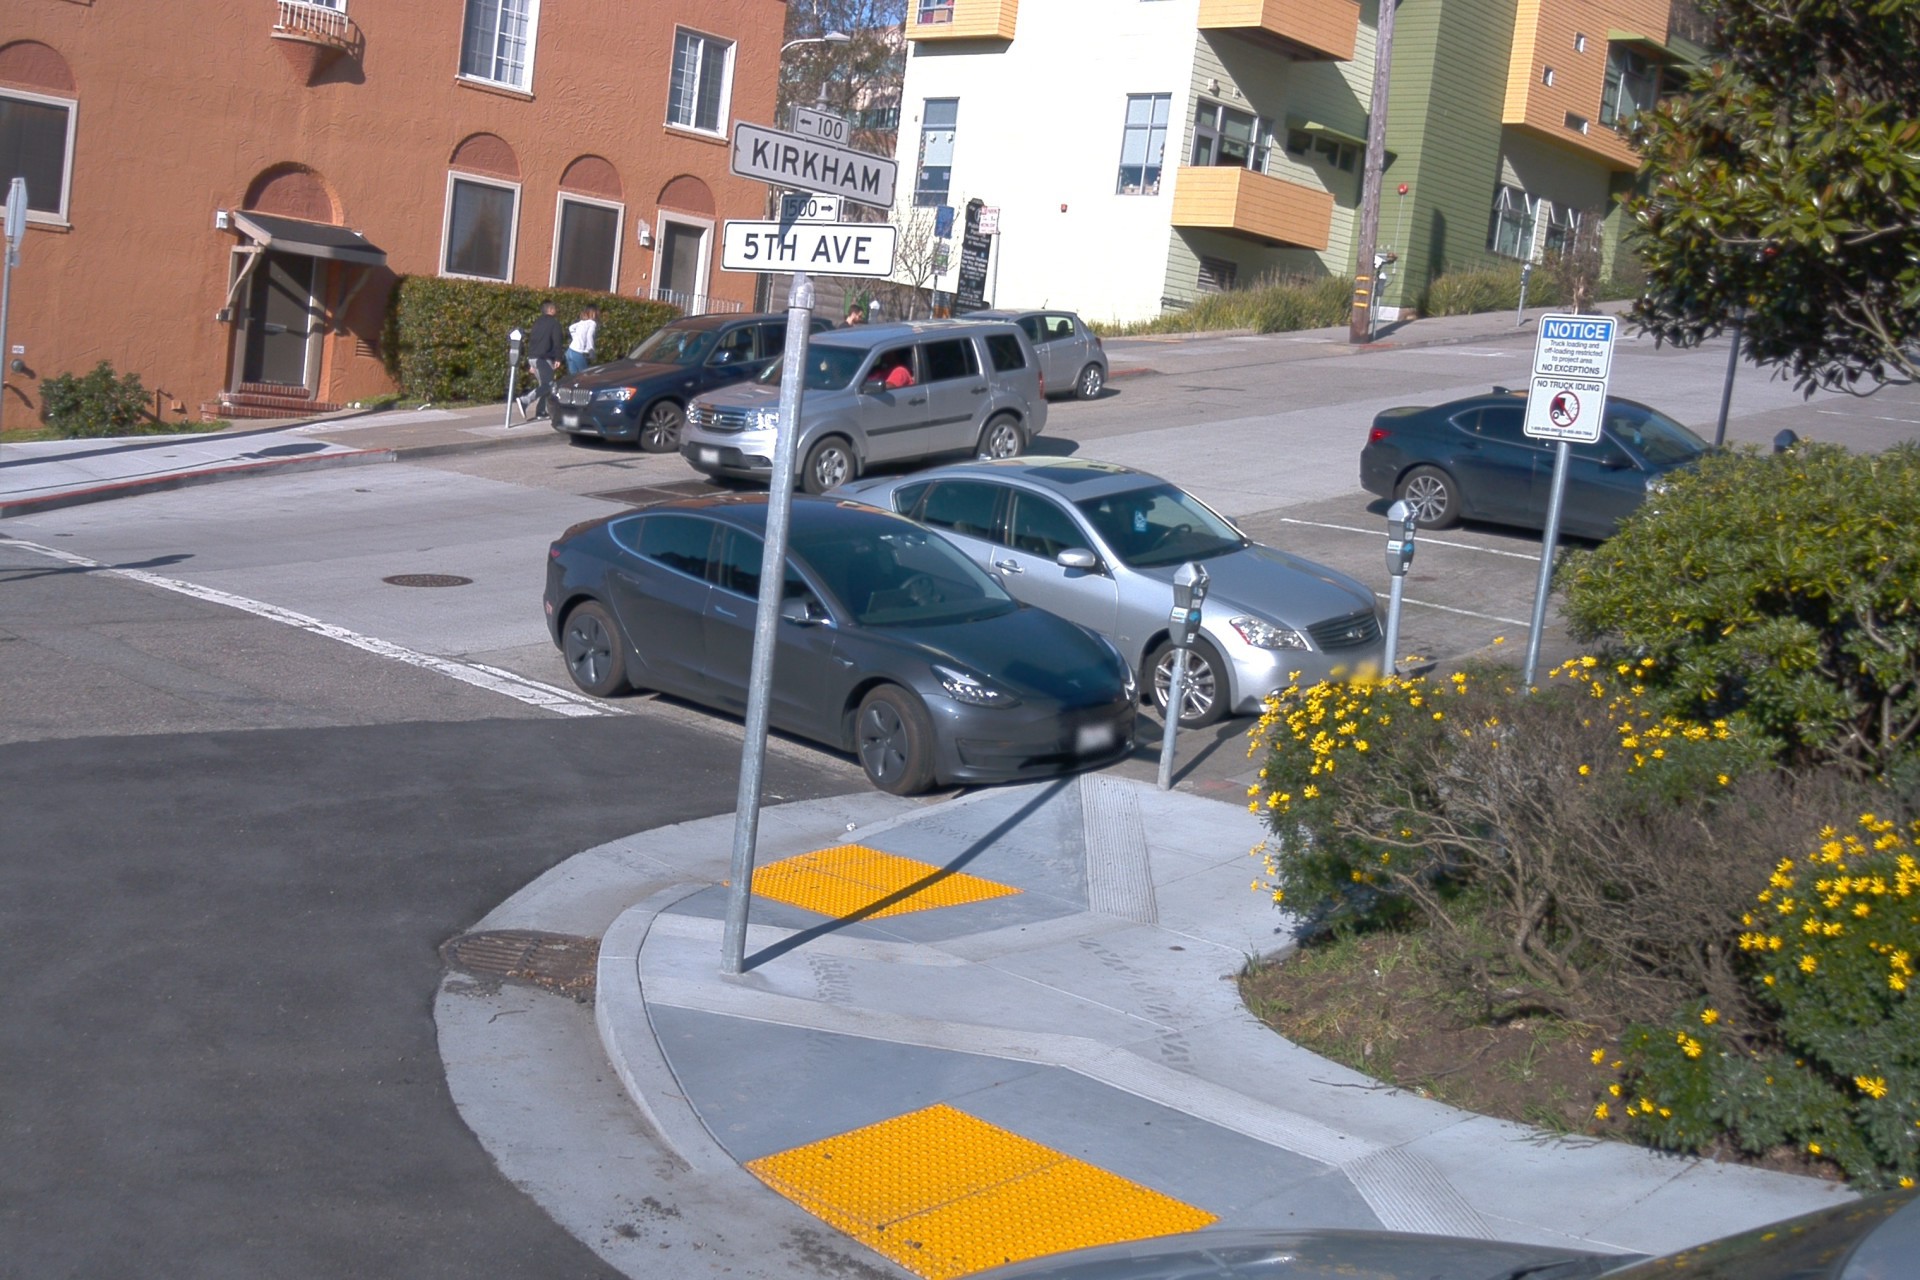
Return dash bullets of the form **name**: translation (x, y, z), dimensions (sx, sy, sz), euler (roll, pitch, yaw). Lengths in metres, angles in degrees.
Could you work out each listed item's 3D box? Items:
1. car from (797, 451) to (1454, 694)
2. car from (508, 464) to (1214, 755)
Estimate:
- **car**: translation (1.128, -0.432, 15.710), dimensions (4.561, 1.560, 2.064), euler (0, 0, 41)
- **car**: translation (-0.805, -0.169, 13.988), dimensions (4.636, 1.620, 2.044), euler (0, 0, 43)
